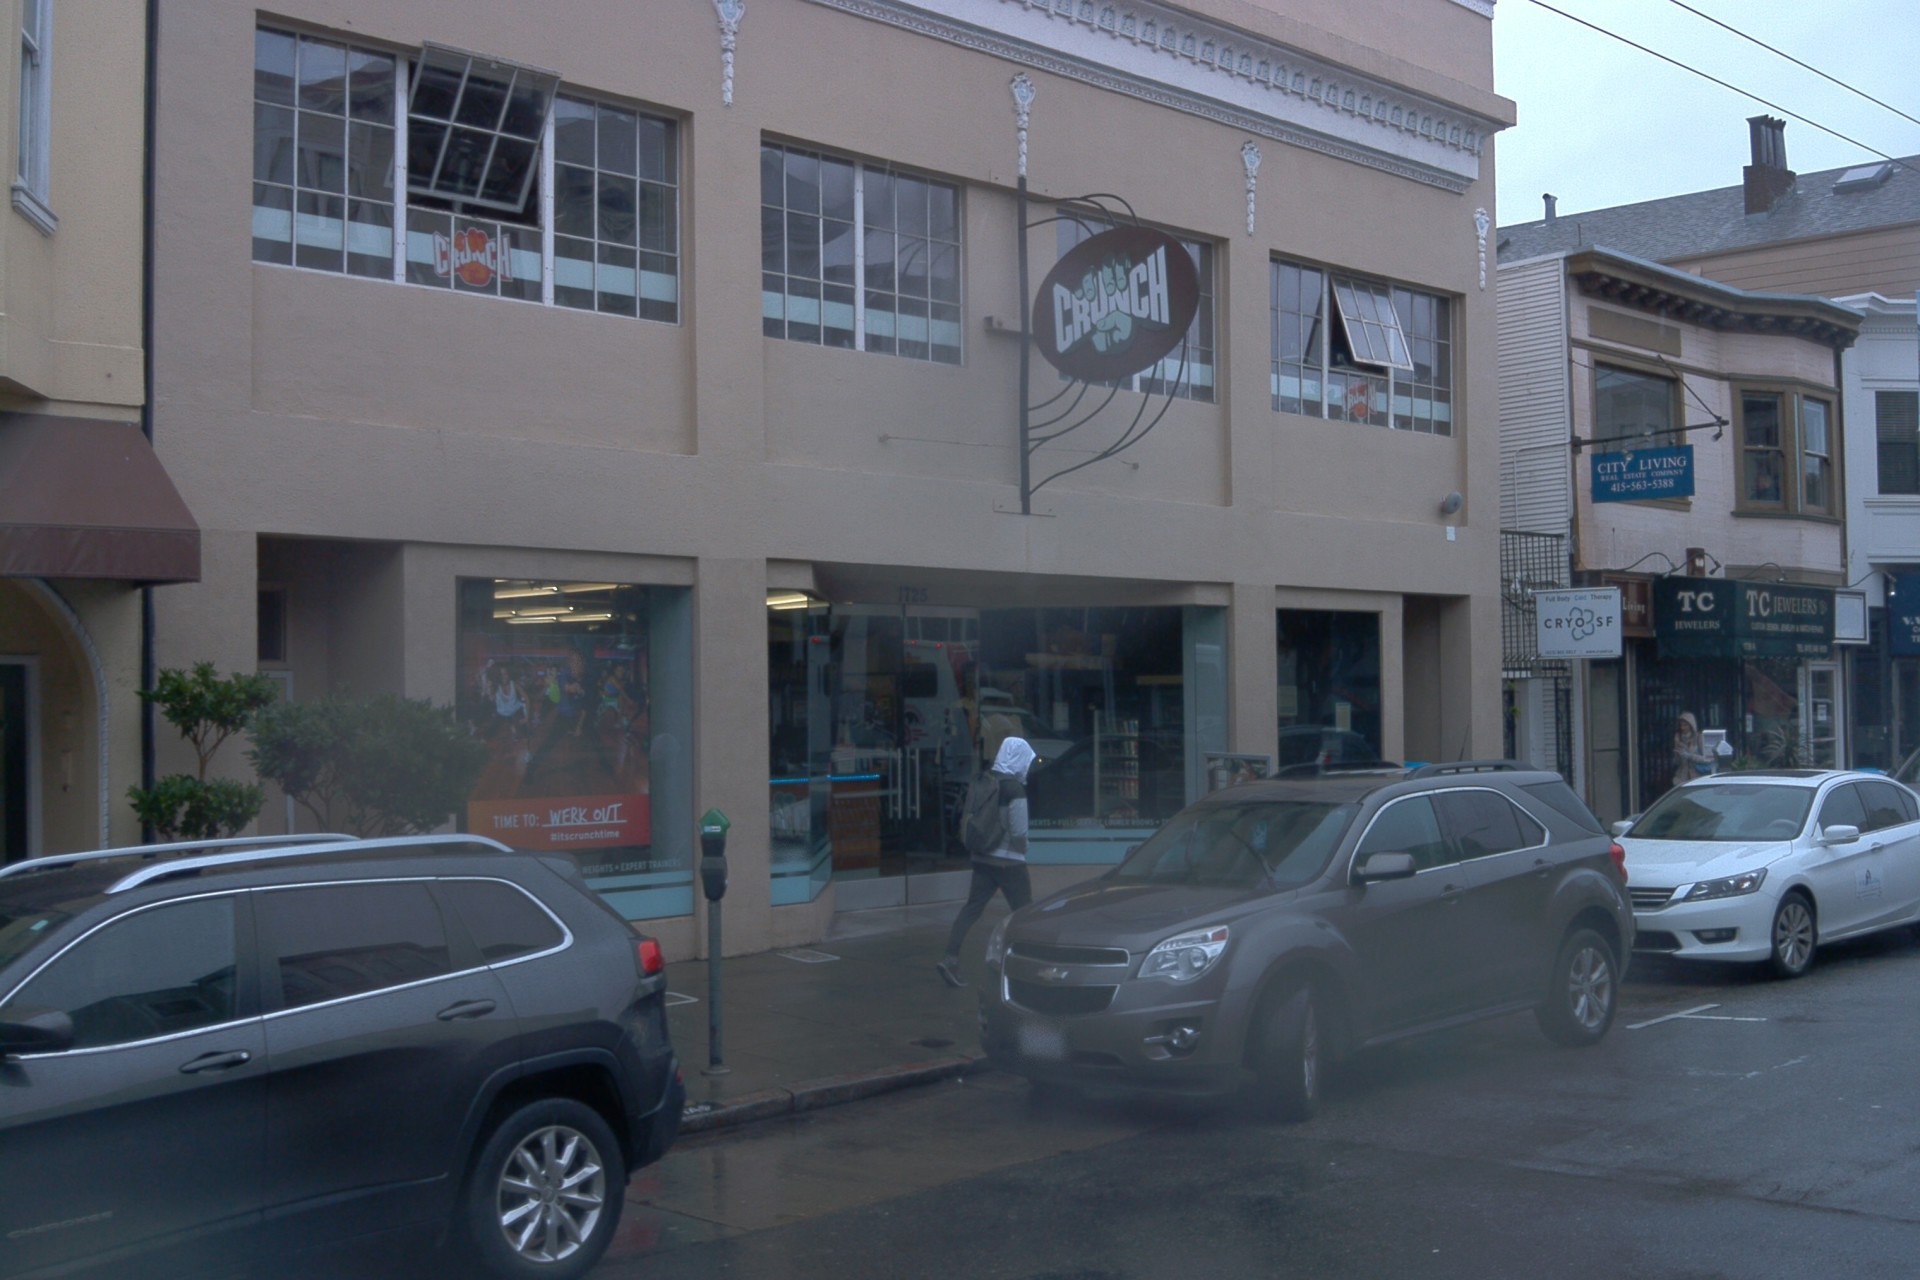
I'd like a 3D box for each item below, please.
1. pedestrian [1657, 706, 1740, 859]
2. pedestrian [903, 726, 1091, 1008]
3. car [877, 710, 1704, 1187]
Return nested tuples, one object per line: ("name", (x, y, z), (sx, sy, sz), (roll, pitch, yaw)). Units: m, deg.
("pedestrian", (8.734, 1.666, 24.451), (0.646, 1.720, 0.803), (2, 1, 41))
("pedestrian", (0.257, 1.523, 14.246), (1.056, 1.800, 0.729), (0, 1, -43))
("car", (2.091, 1.479, 11.824), (5.008, 1.960, 2.059), (0, 1, -44))
